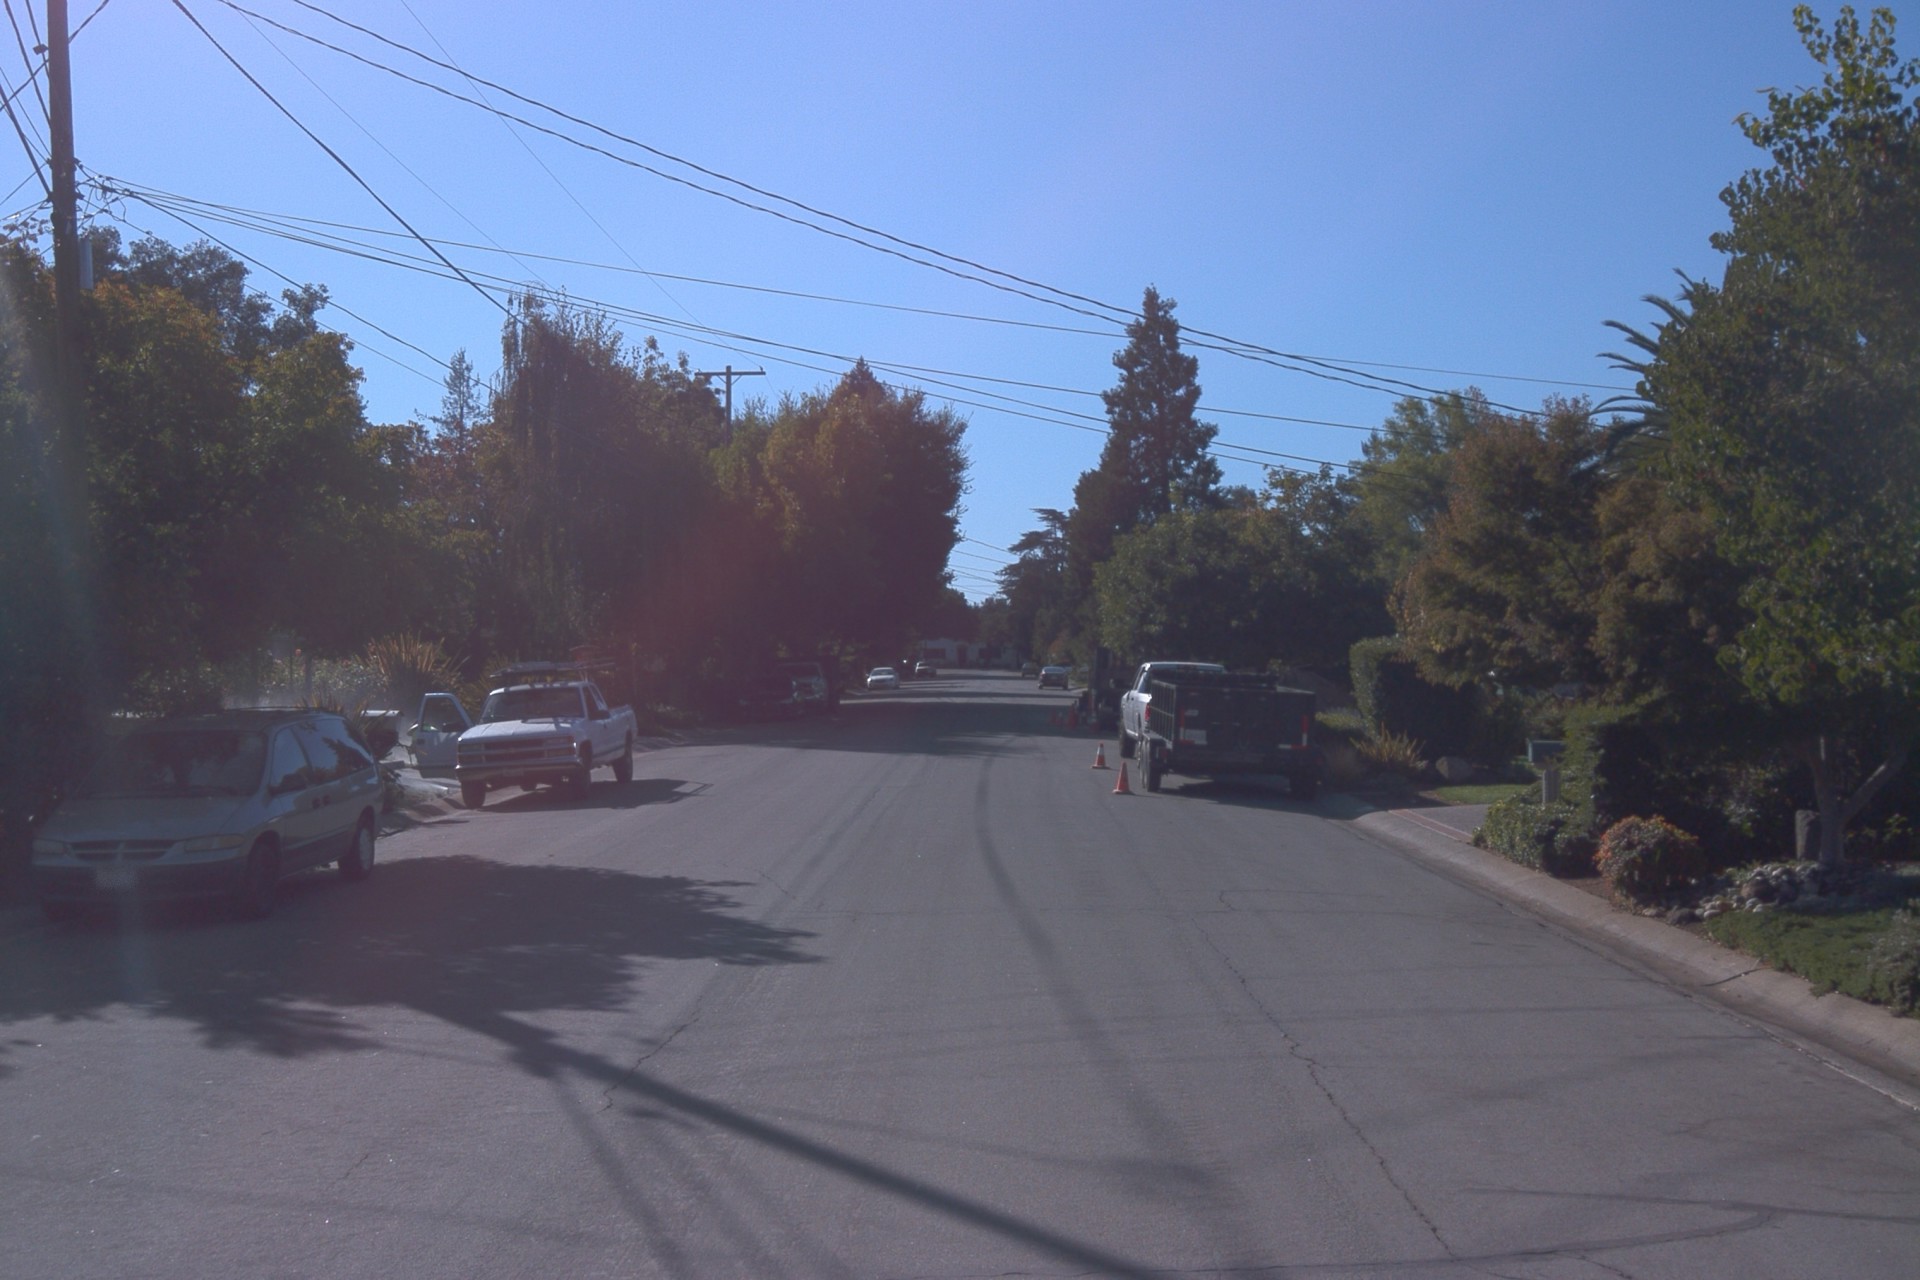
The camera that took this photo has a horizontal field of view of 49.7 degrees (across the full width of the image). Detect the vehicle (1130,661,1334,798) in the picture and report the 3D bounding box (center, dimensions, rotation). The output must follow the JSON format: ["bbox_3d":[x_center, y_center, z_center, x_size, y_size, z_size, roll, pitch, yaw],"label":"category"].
[{"bbox_3d":[4.259,1.359,33.472,2.722,2.020,5.259,0,-1,1],"label":"vehicle"}]

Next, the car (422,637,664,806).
[{"bbox_3d":[-6.620,1.230,33.818,2.573,2.500,6.407,0,-1,1],"label":"car"}]
